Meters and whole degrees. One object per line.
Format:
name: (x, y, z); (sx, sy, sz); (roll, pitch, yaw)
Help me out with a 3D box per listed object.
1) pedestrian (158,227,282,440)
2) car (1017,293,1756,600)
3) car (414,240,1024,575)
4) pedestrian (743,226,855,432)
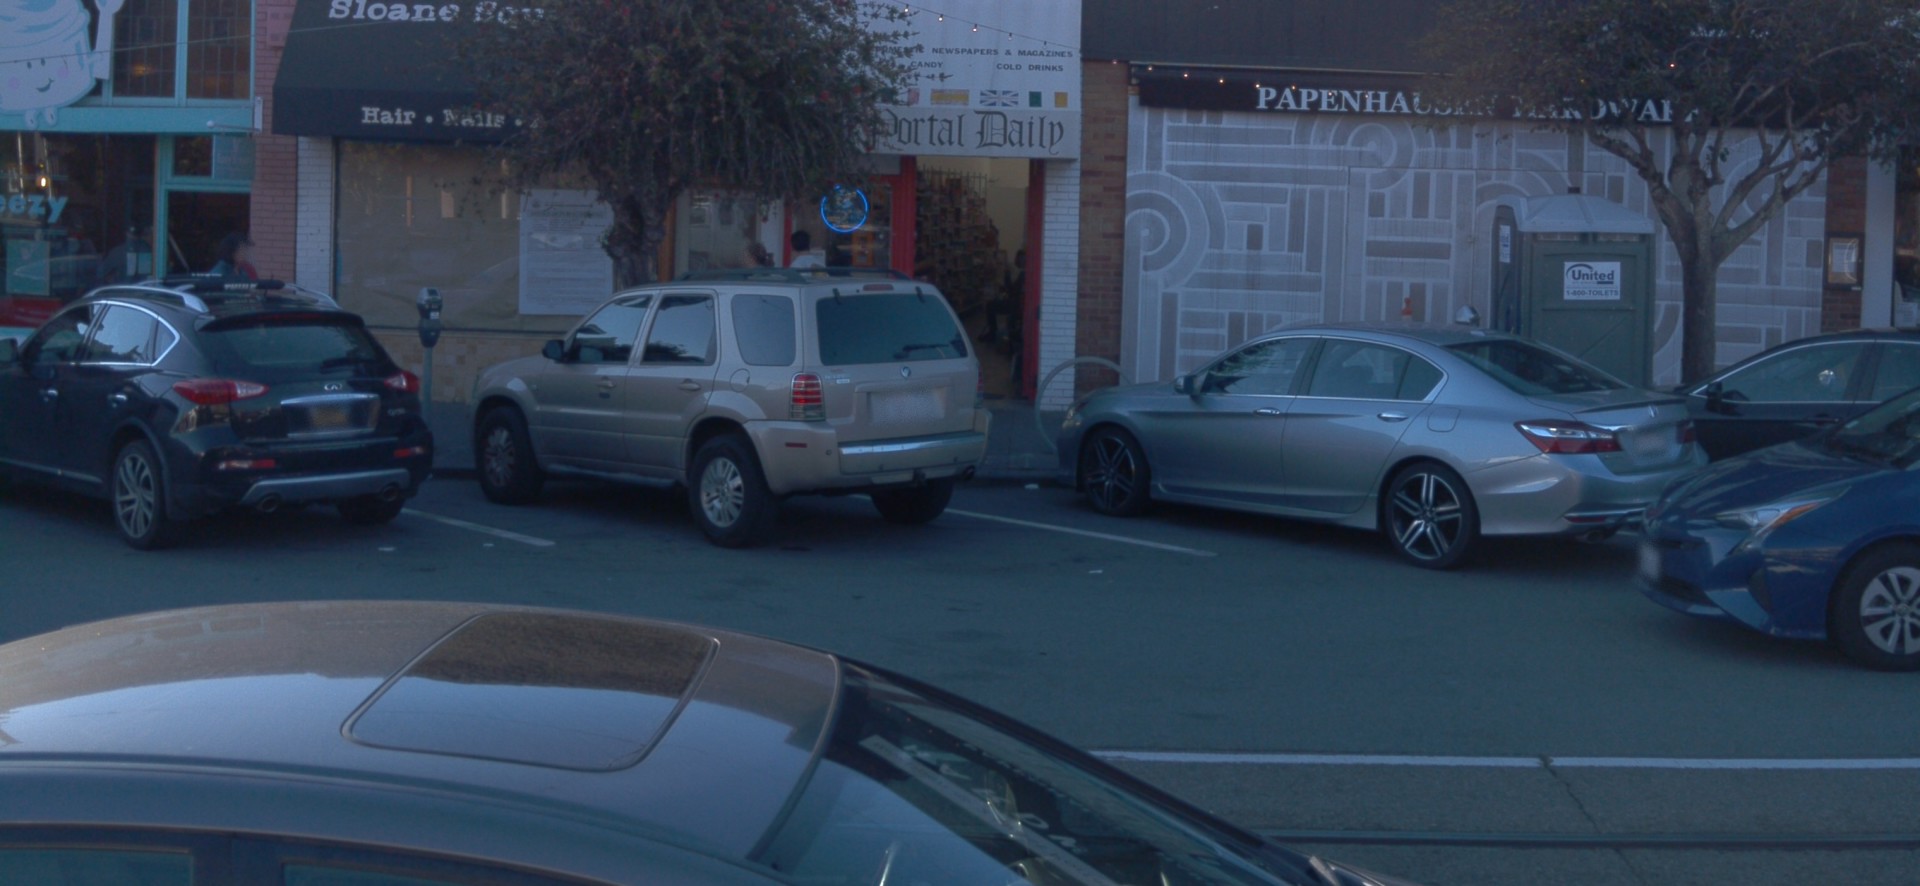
pedestrian: (-6.302, -0.958, 17.718); (0.724, 1.757, 0.809); (1, 2, 2)
car: (2.726, -0.159, 14.243); (2.141, 1.513, 4.658); (-3, 7, -39)
car: (-1.811, -0.430, 14.557); (2.078, 1.892, 4.243); (-3, 7, -44)
pedestrian: (-1.462, -1.067, 18.951); (0.727, 1.816, 0.928); (1, 2, 15)
